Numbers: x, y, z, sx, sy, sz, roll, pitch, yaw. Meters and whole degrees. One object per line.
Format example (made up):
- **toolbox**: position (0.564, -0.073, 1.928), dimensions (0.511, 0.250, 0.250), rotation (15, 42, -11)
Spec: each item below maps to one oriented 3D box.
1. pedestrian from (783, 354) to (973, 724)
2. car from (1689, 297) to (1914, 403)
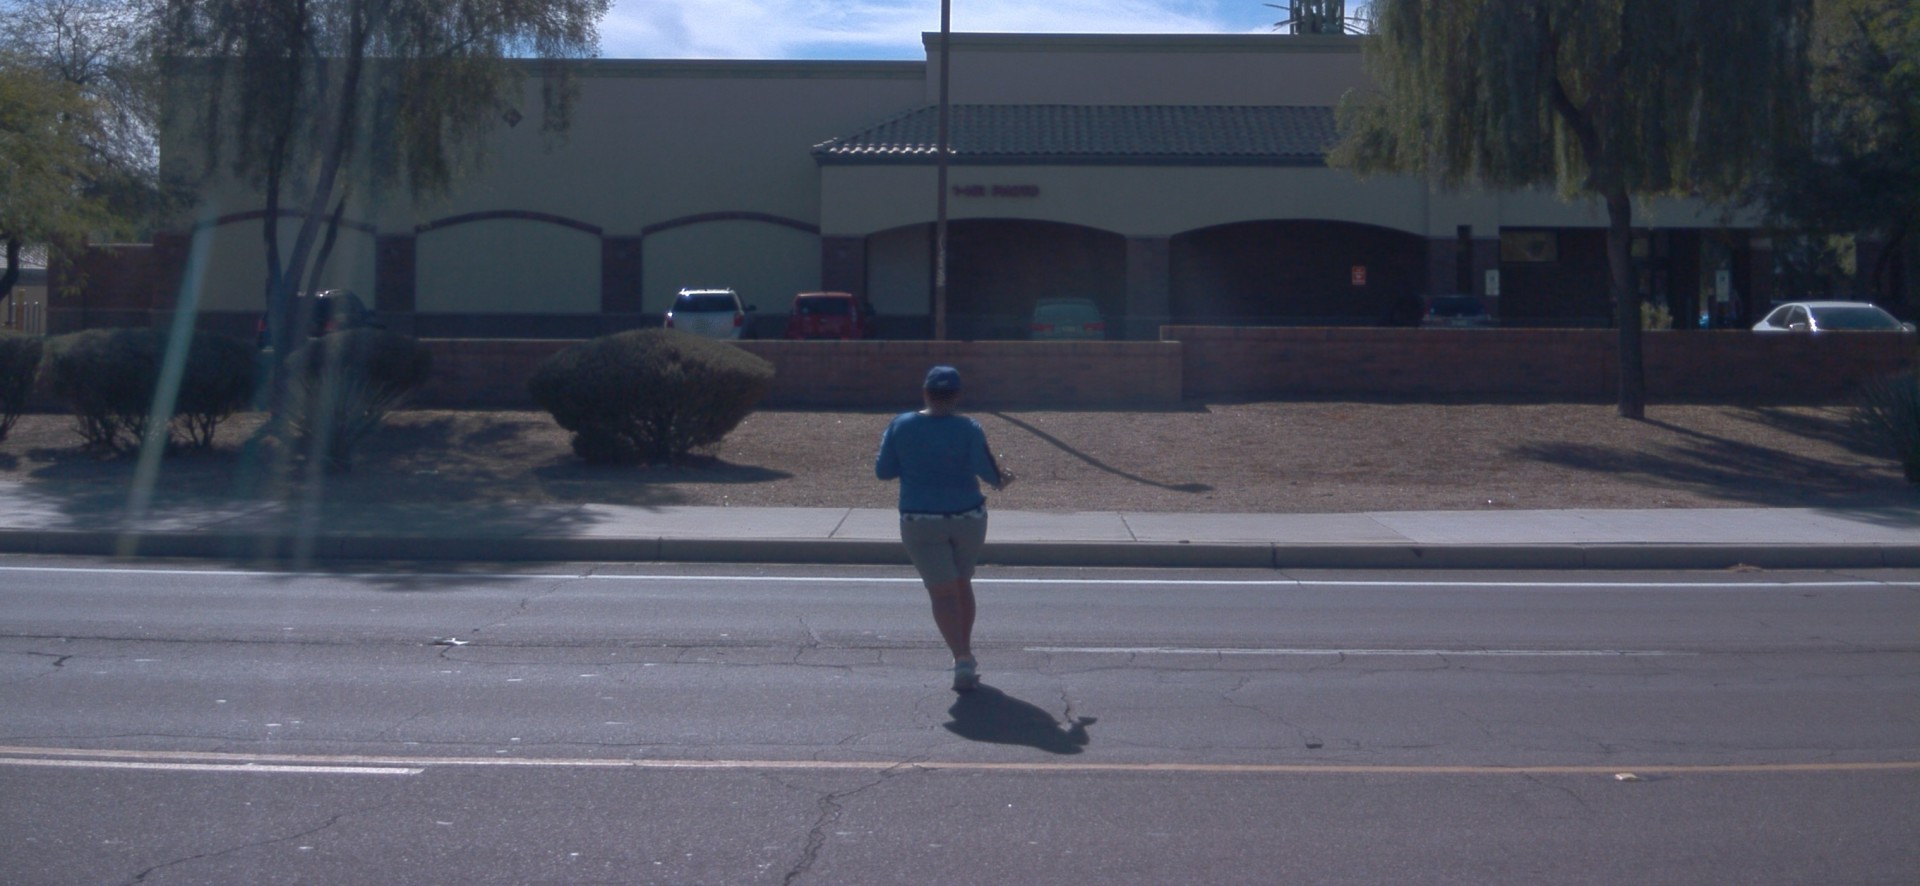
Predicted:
- **pedestrian**: position (-0.440, 0.438, 10.703), dimensions (0.806, 1.708, 1.110), rotation (0, 2, -11)
- **car**: position (13.736, -1.592, 34.480), dimensions (2.097, 1.453, 4.559), rotation (1, 5, 3)
